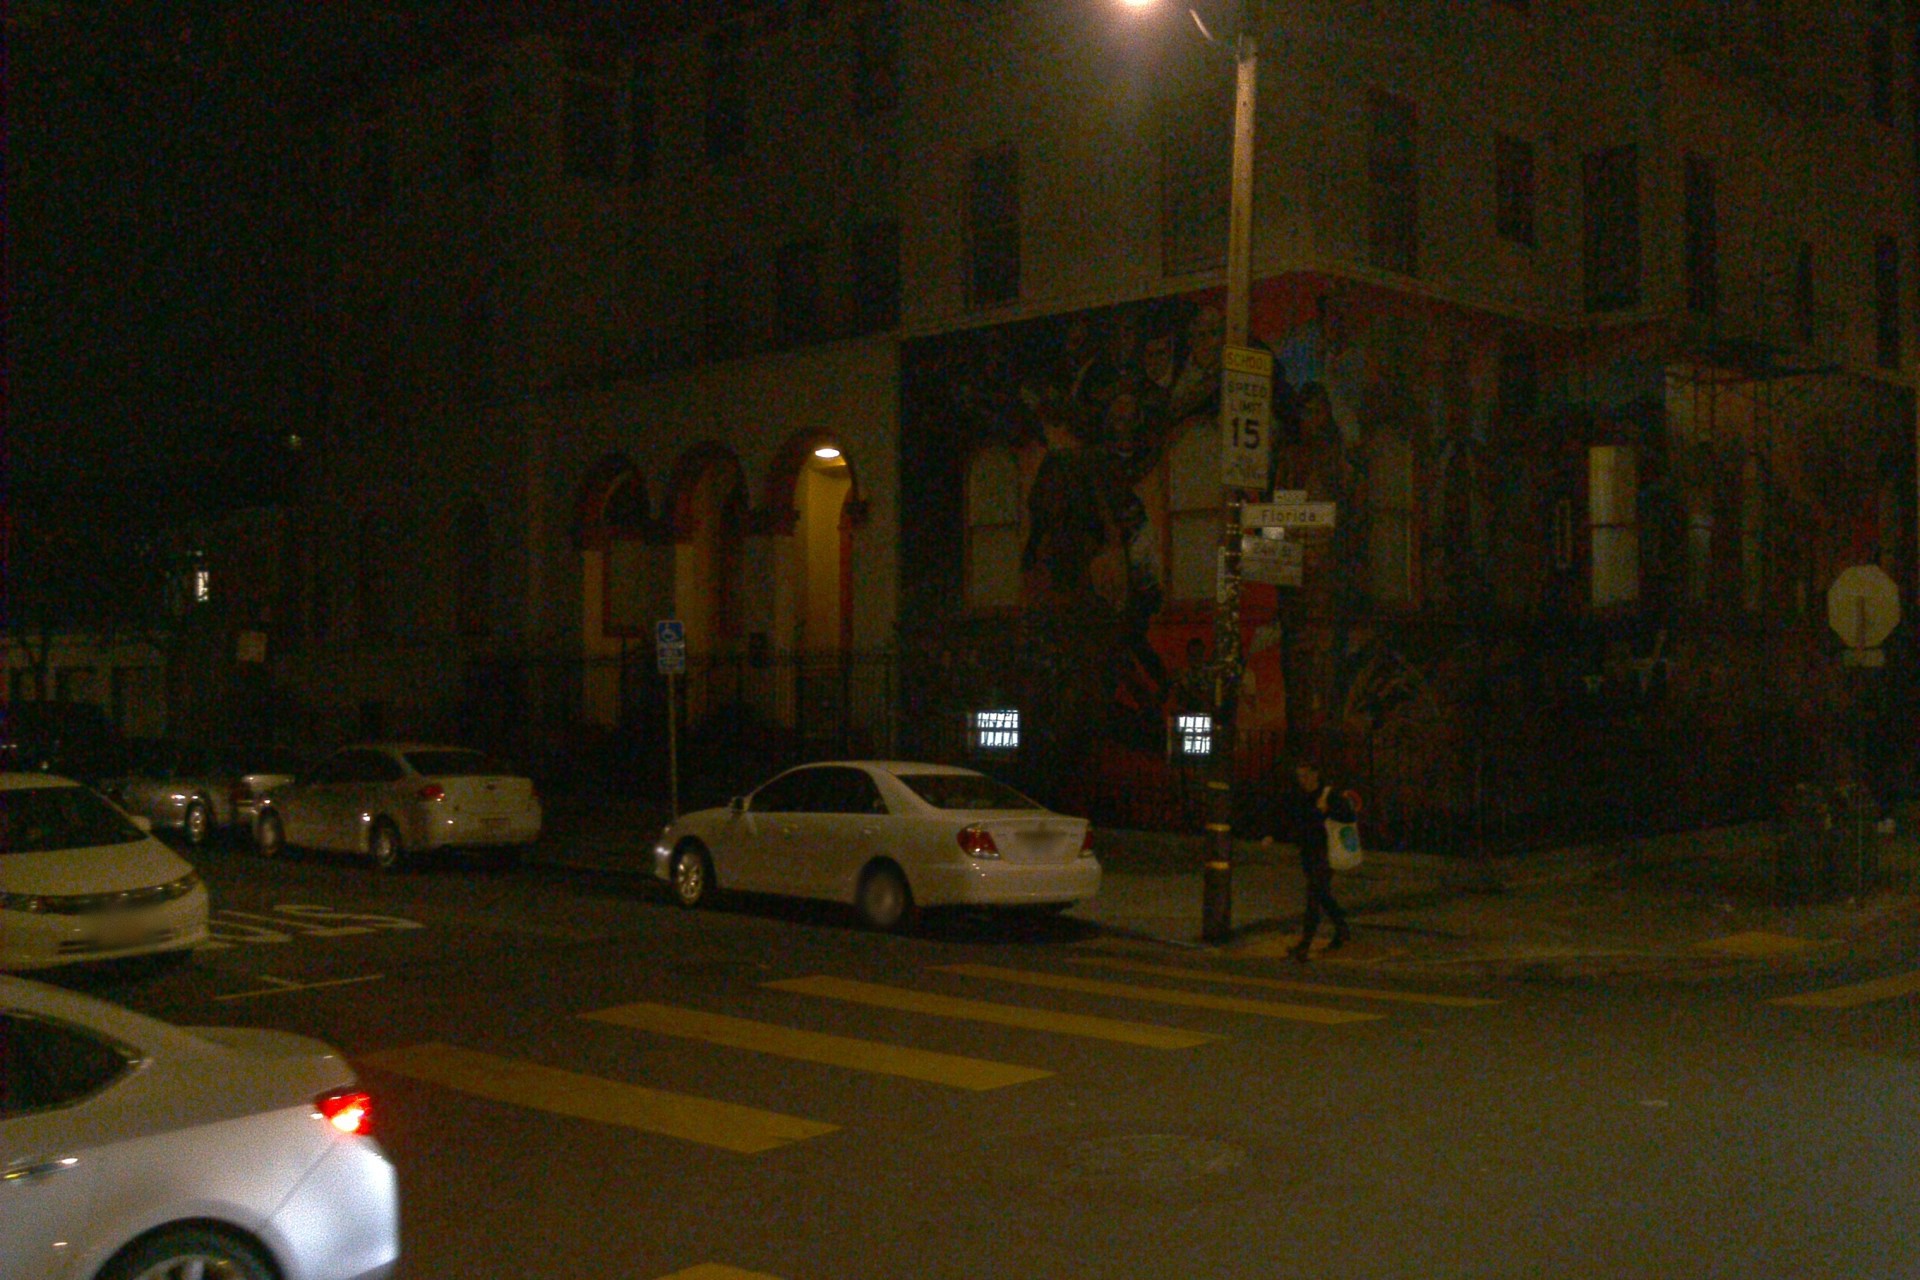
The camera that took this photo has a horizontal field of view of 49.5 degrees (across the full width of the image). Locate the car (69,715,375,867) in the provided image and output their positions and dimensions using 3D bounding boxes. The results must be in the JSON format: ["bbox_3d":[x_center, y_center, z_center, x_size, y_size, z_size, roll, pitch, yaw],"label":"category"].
[{"bbox_3d":[-10.105,1.967,28.305,4.412,1.720,2.202,1,0,45],"label":"car"}]

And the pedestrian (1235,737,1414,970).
[{"bbox_3d":[3.013,1.723,17.197,1.001,1.780,1.083,0,0,44],"label":"pedestrian"}]

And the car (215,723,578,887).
[{"bbox_3d":[-6.836,1.895,25.001,4.484,1.590,2.154,1,0,43],"label":"car"}]

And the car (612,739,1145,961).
[{"bbox_3d":[-0.868,1.814,19.265,2.249,1.540,4.811,1,0,-45],"label":"car"}]
